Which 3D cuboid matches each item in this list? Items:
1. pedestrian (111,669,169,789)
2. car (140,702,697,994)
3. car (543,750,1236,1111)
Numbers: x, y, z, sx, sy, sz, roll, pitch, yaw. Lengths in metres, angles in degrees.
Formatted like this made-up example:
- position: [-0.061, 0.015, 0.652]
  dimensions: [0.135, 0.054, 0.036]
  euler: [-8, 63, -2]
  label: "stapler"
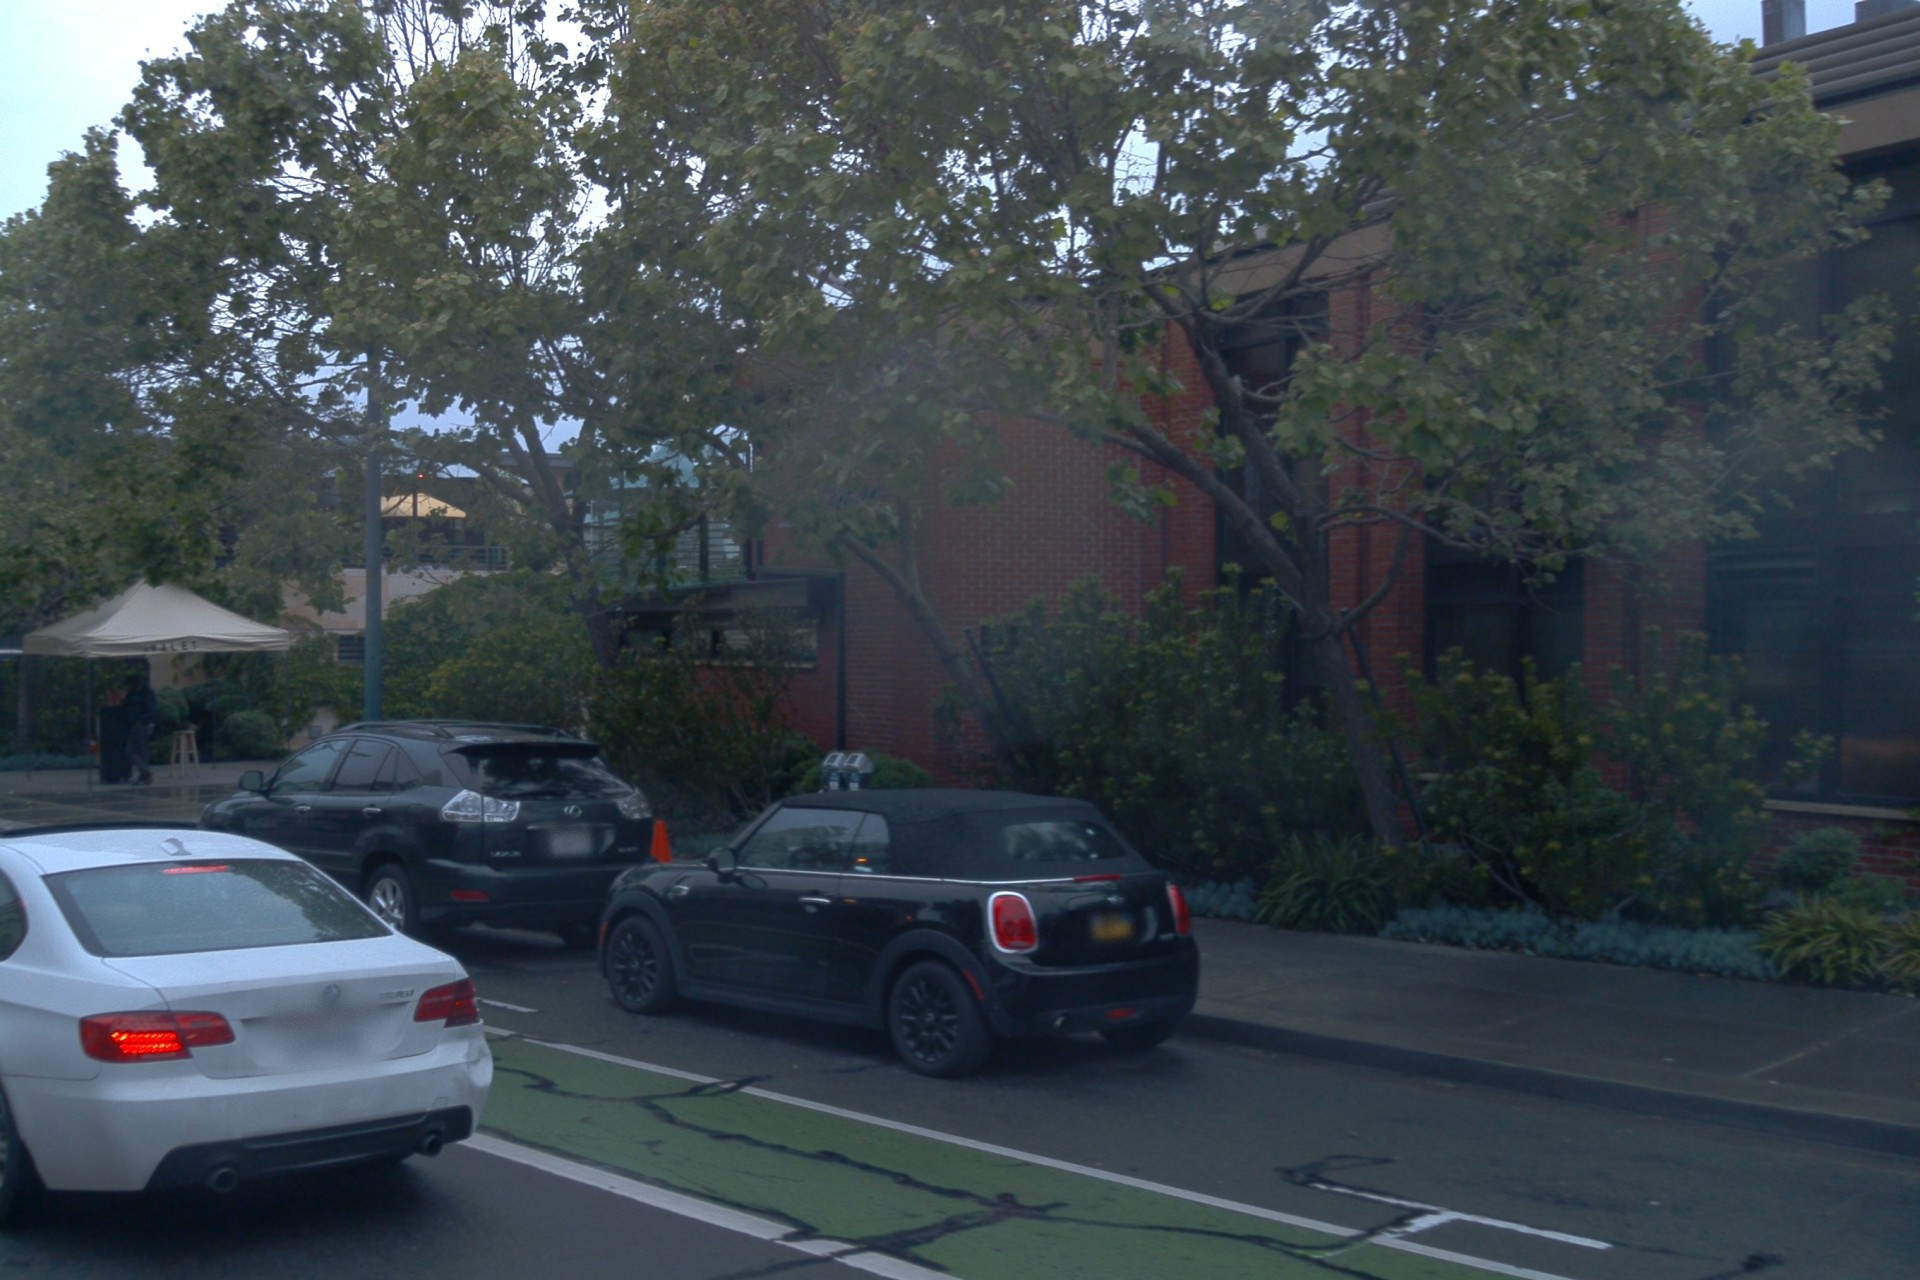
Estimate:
- position: [-12.235, 1.316, 30.878]
  dimensions: [0.574, 1.750, 0.863]
  euler: [1, -1, -38]
  label: "pedestrian"
- position: [-4.325, 1.432, 15.975]
  dimensions: [2.033, 1.780, 4.898]
  euler: [1, -1, -43]
  label: "car"
- position: [-0.532, 1.525, 12.158]
  dimensions: [1.970, 1.560, 3.868]
  euler: [1, -1, -44]
  label: "car"
